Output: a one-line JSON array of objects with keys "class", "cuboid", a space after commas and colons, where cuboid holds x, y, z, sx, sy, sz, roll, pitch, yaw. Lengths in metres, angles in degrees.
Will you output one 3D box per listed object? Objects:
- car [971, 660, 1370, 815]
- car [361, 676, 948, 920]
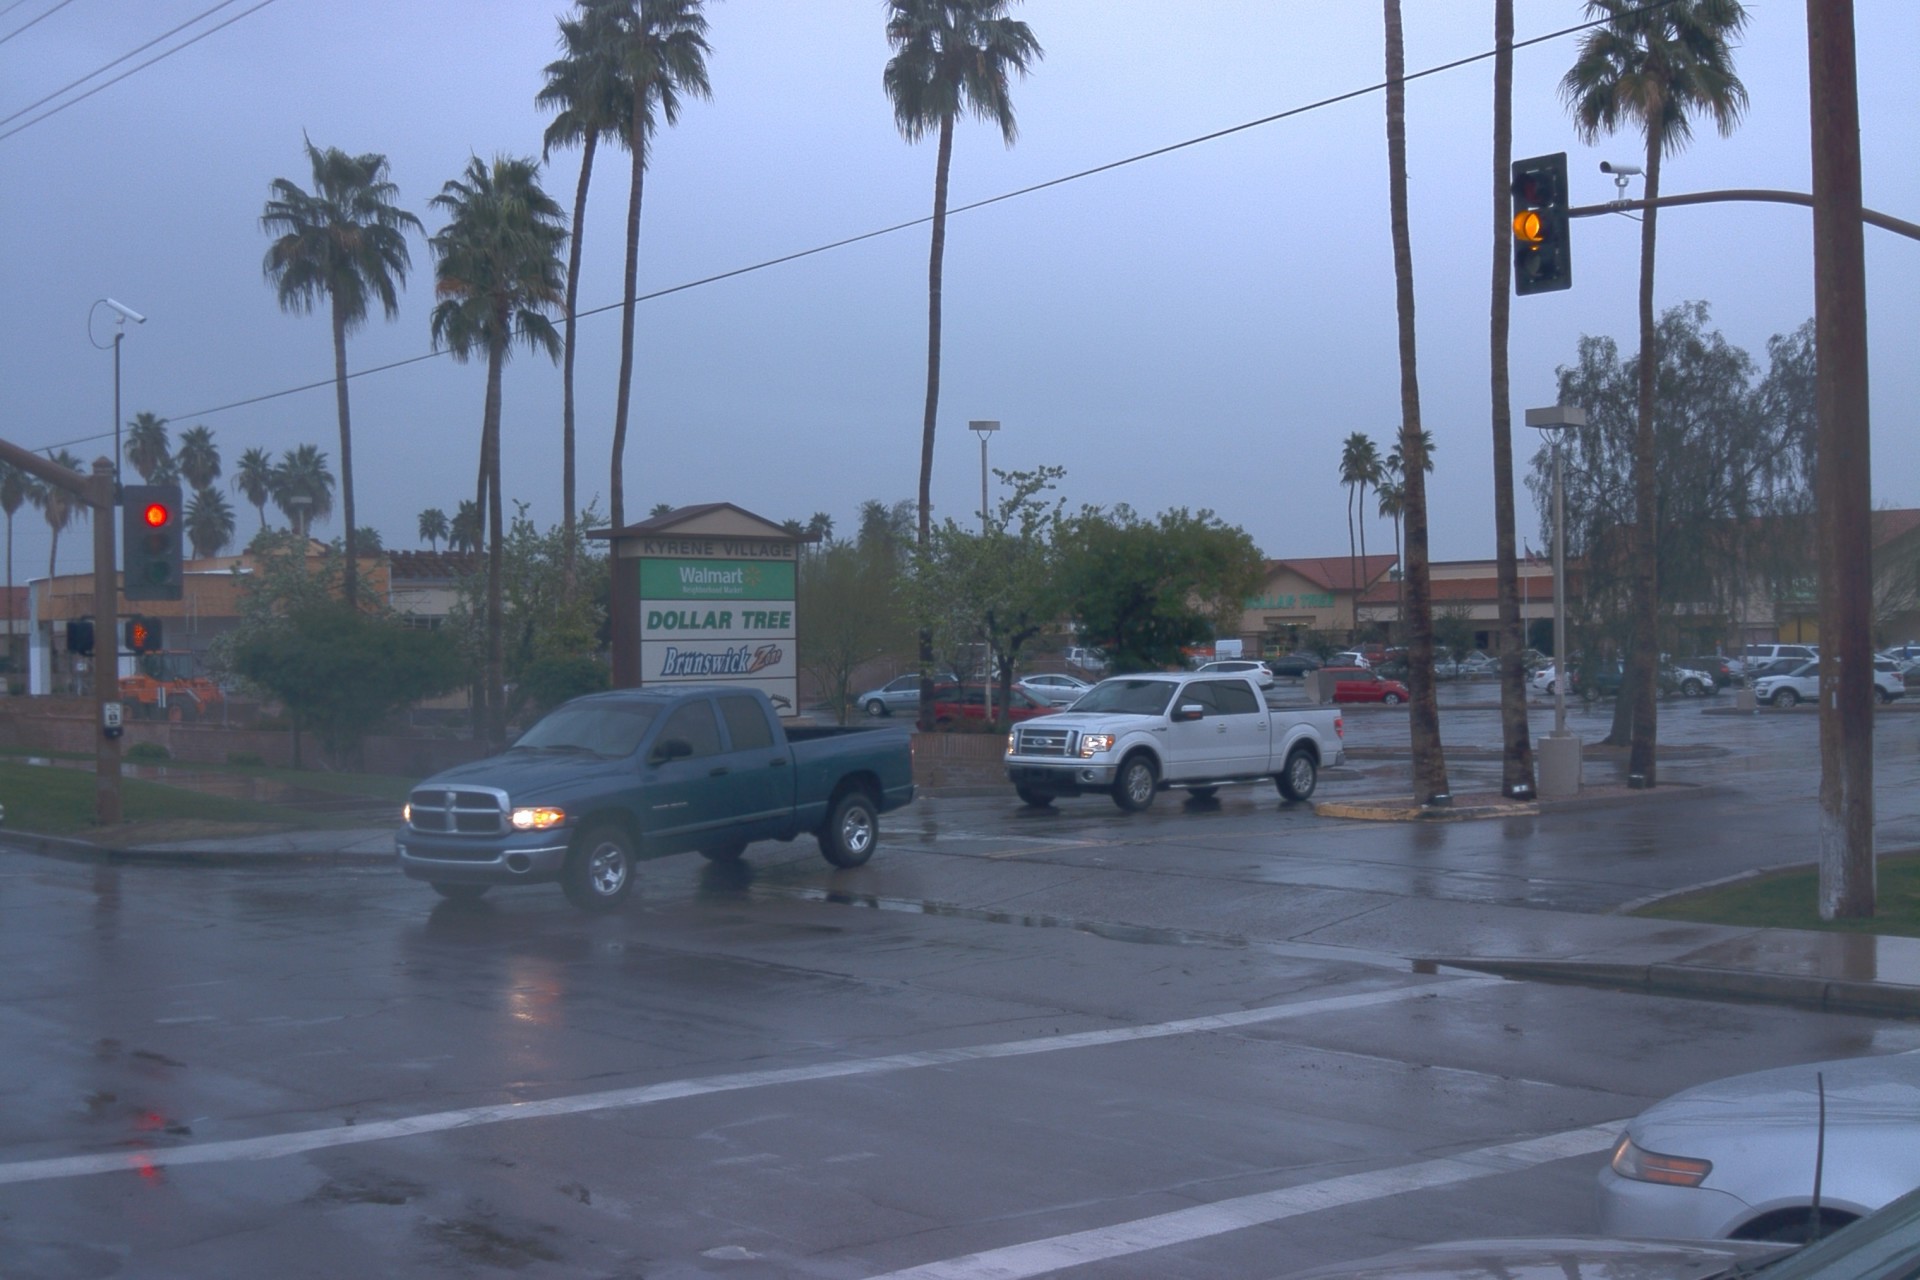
[{"class": "car", "cuboid": [3.110, 1.288, 29.675, 5.840, 1.980, 2.534, 1, -1, -45]}, {"class": "car", "cuboid": [-2.759, 1.368, 20.416, 2.432, 2.000, 5.769, 0, -1, 34]}]
